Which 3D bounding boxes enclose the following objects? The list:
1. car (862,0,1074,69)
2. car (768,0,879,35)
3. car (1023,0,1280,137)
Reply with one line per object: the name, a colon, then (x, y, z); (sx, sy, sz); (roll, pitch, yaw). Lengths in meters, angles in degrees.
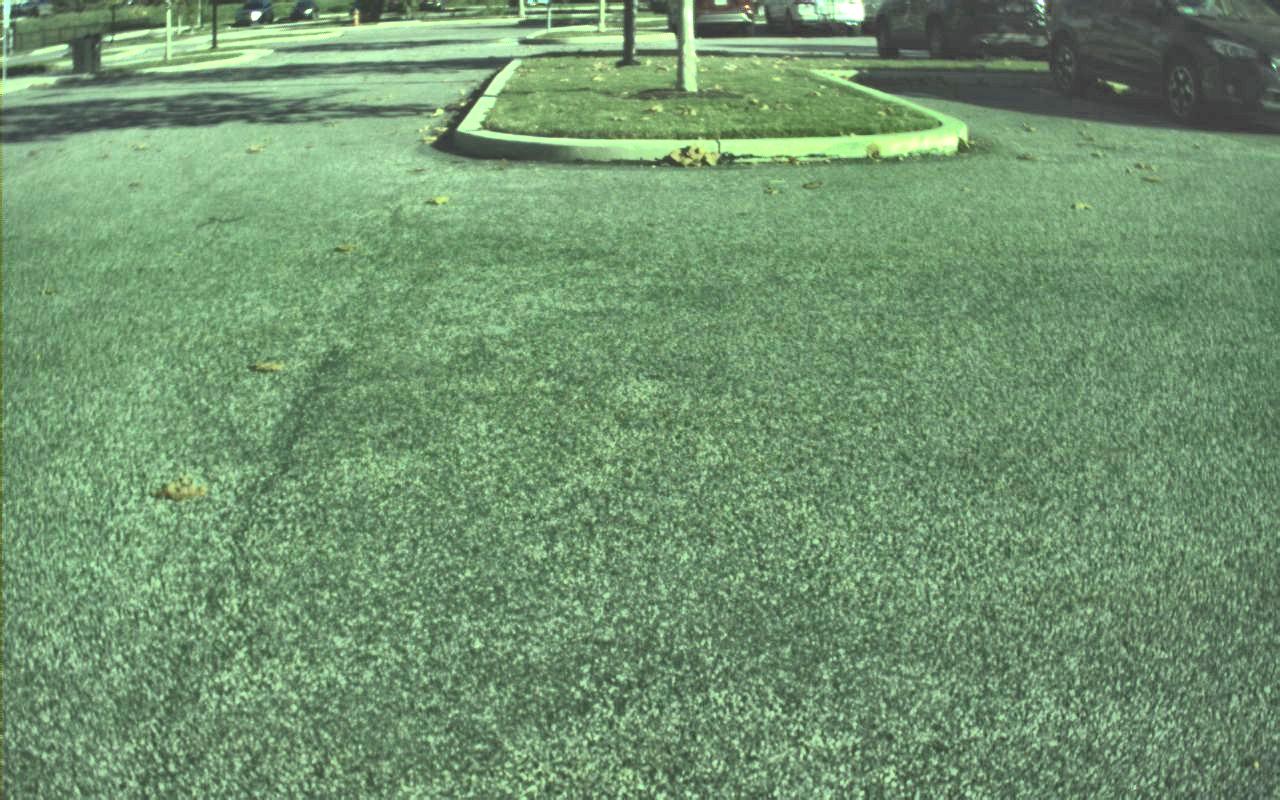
car: (5.222, -6.295, 19.436); (1.972, 1.590, 4.678); (-3, 17, -6)
car: (4.924, -10.843, 33.063); (2.022, 1.749, 4.692); (-2, 17, -4)
car: (5.723, -3.762, 11.718); (1.937, 1.548, 4.604); (-3, 17, -6)
